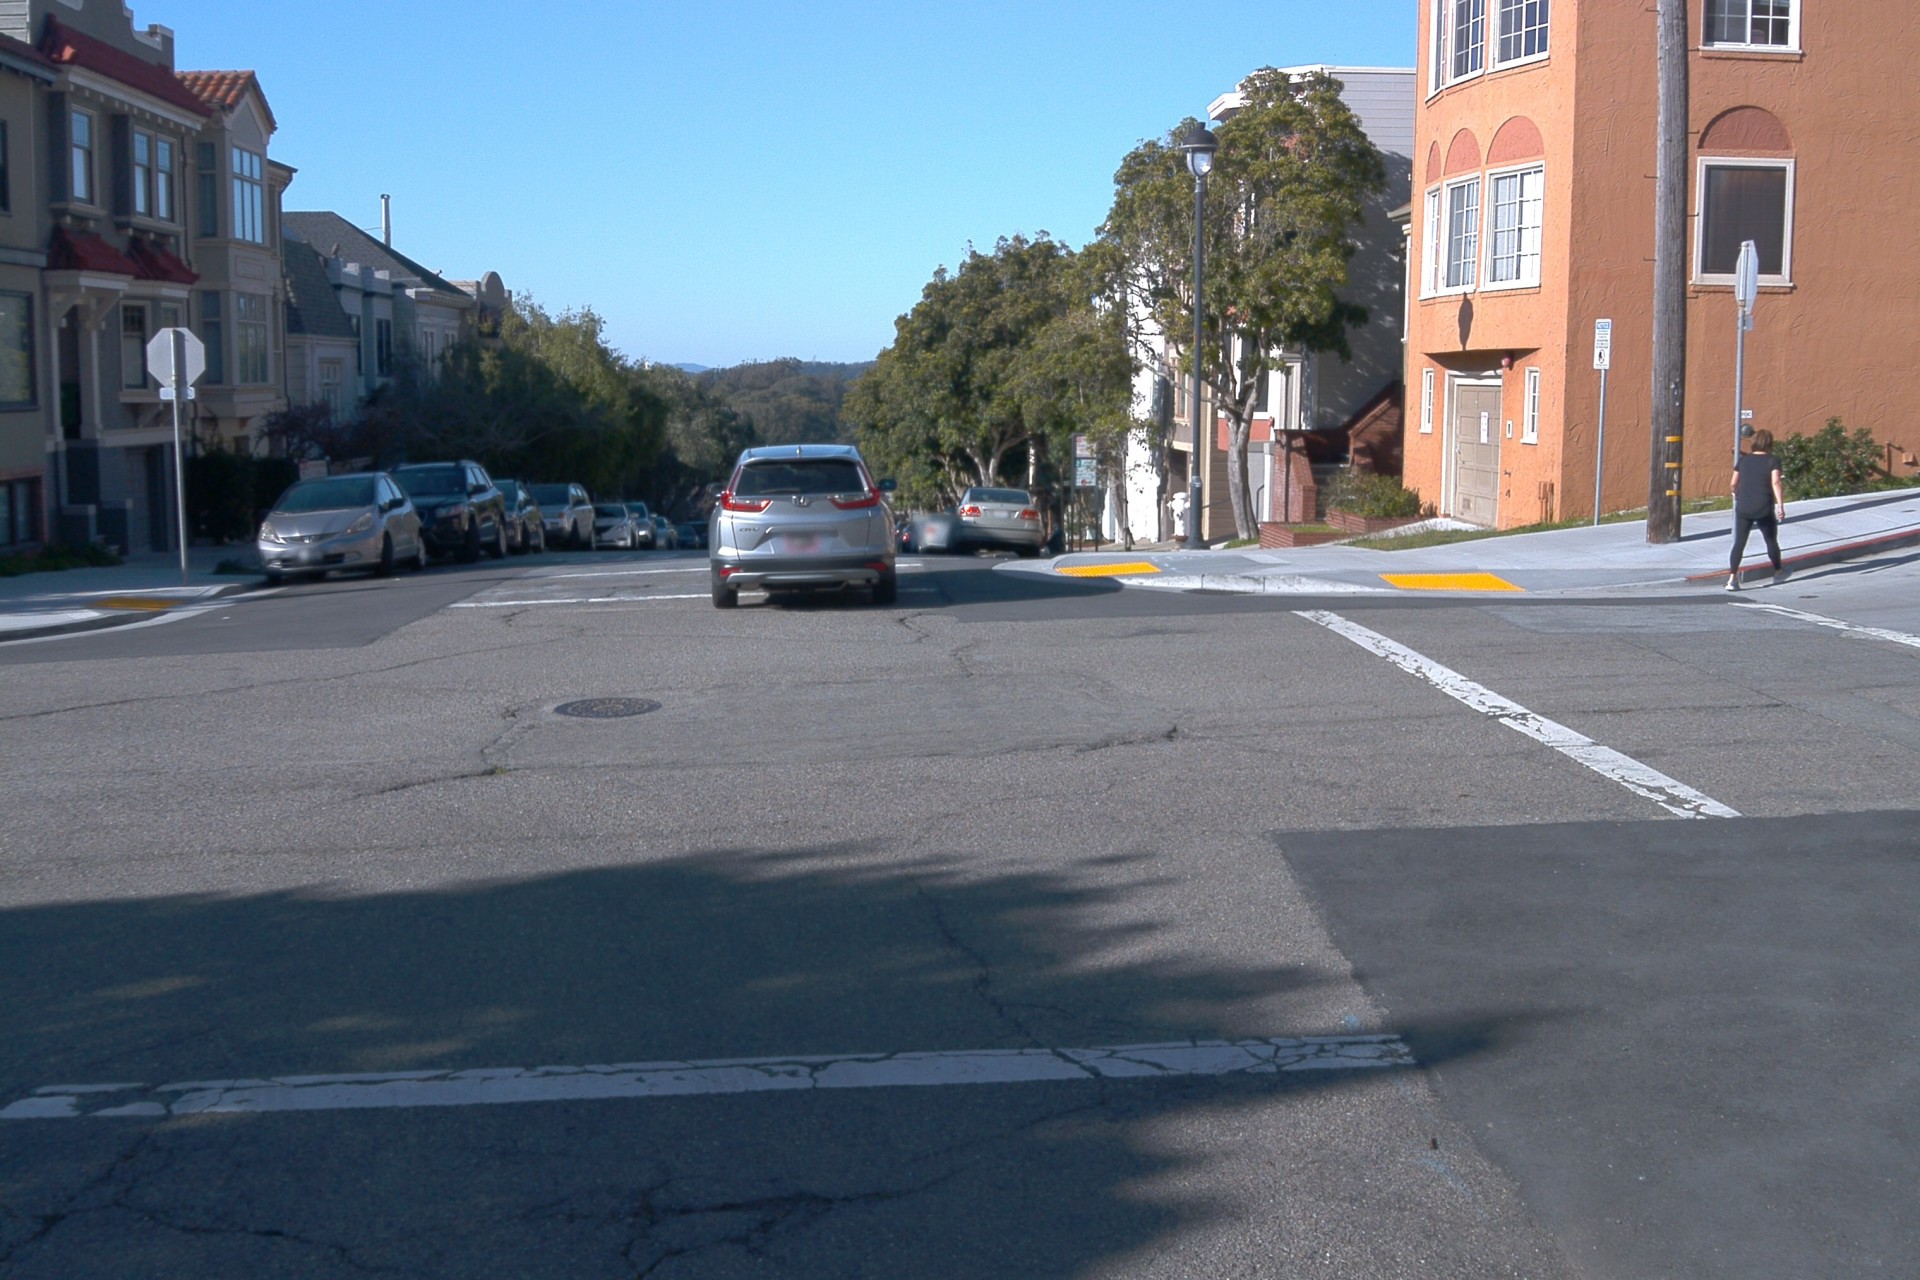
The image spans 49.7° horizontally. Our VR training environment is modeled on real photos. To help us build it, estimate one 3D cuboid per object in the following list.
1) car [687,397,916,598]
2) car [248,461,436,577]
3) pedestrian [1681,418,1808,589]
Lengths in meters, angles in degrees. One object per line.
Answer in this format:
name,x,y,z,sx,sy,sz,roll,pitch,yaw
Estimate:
car,-1.670,-1.415,22.231,2.190,1.800,4.696,0,0,-4
car,-8.654,-1.661,29.294,1.715,1.400,3.763,0,0,-3
pedestrian,7.855,-1.342,20.733,1.127,1.620,0.731,0,0,-40
